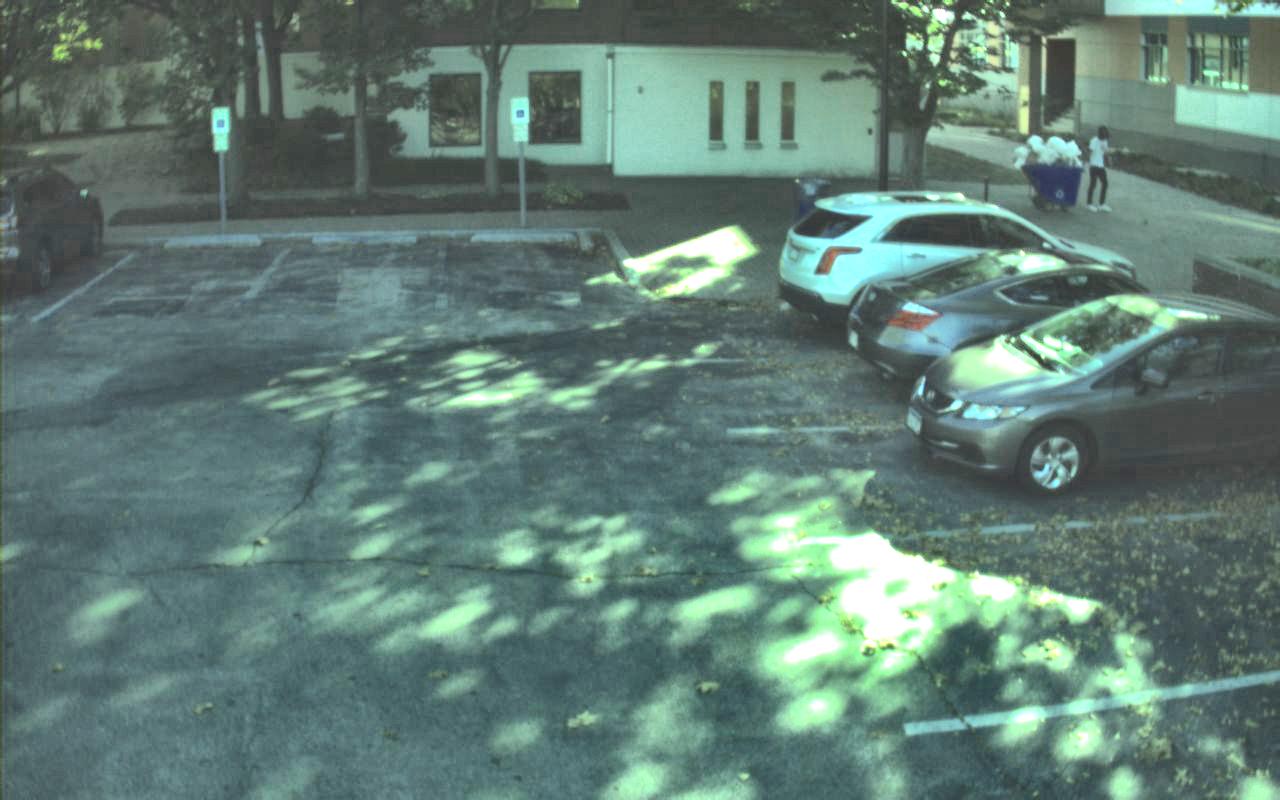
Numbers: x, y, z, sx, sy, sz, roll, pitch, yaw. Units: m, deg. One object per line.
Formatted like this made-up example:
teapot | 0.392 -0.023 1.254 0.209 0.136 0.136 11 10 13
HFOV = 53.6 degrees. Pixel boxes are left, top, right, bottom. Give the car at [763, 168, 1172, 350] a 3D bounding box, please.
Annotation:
car | 4.000 -1.825 14.895 4.696 1.736 2.020 -4 16 -9

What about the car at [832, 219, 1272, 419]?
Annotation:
car | 4.257 -0.936 12.421 4.315 1.550 1.902 -3 16 -5

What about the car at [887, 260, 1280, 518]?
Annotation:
car | 4.414 -0.222 10.063 4.351 1.553 1.914 -2 16 -4
